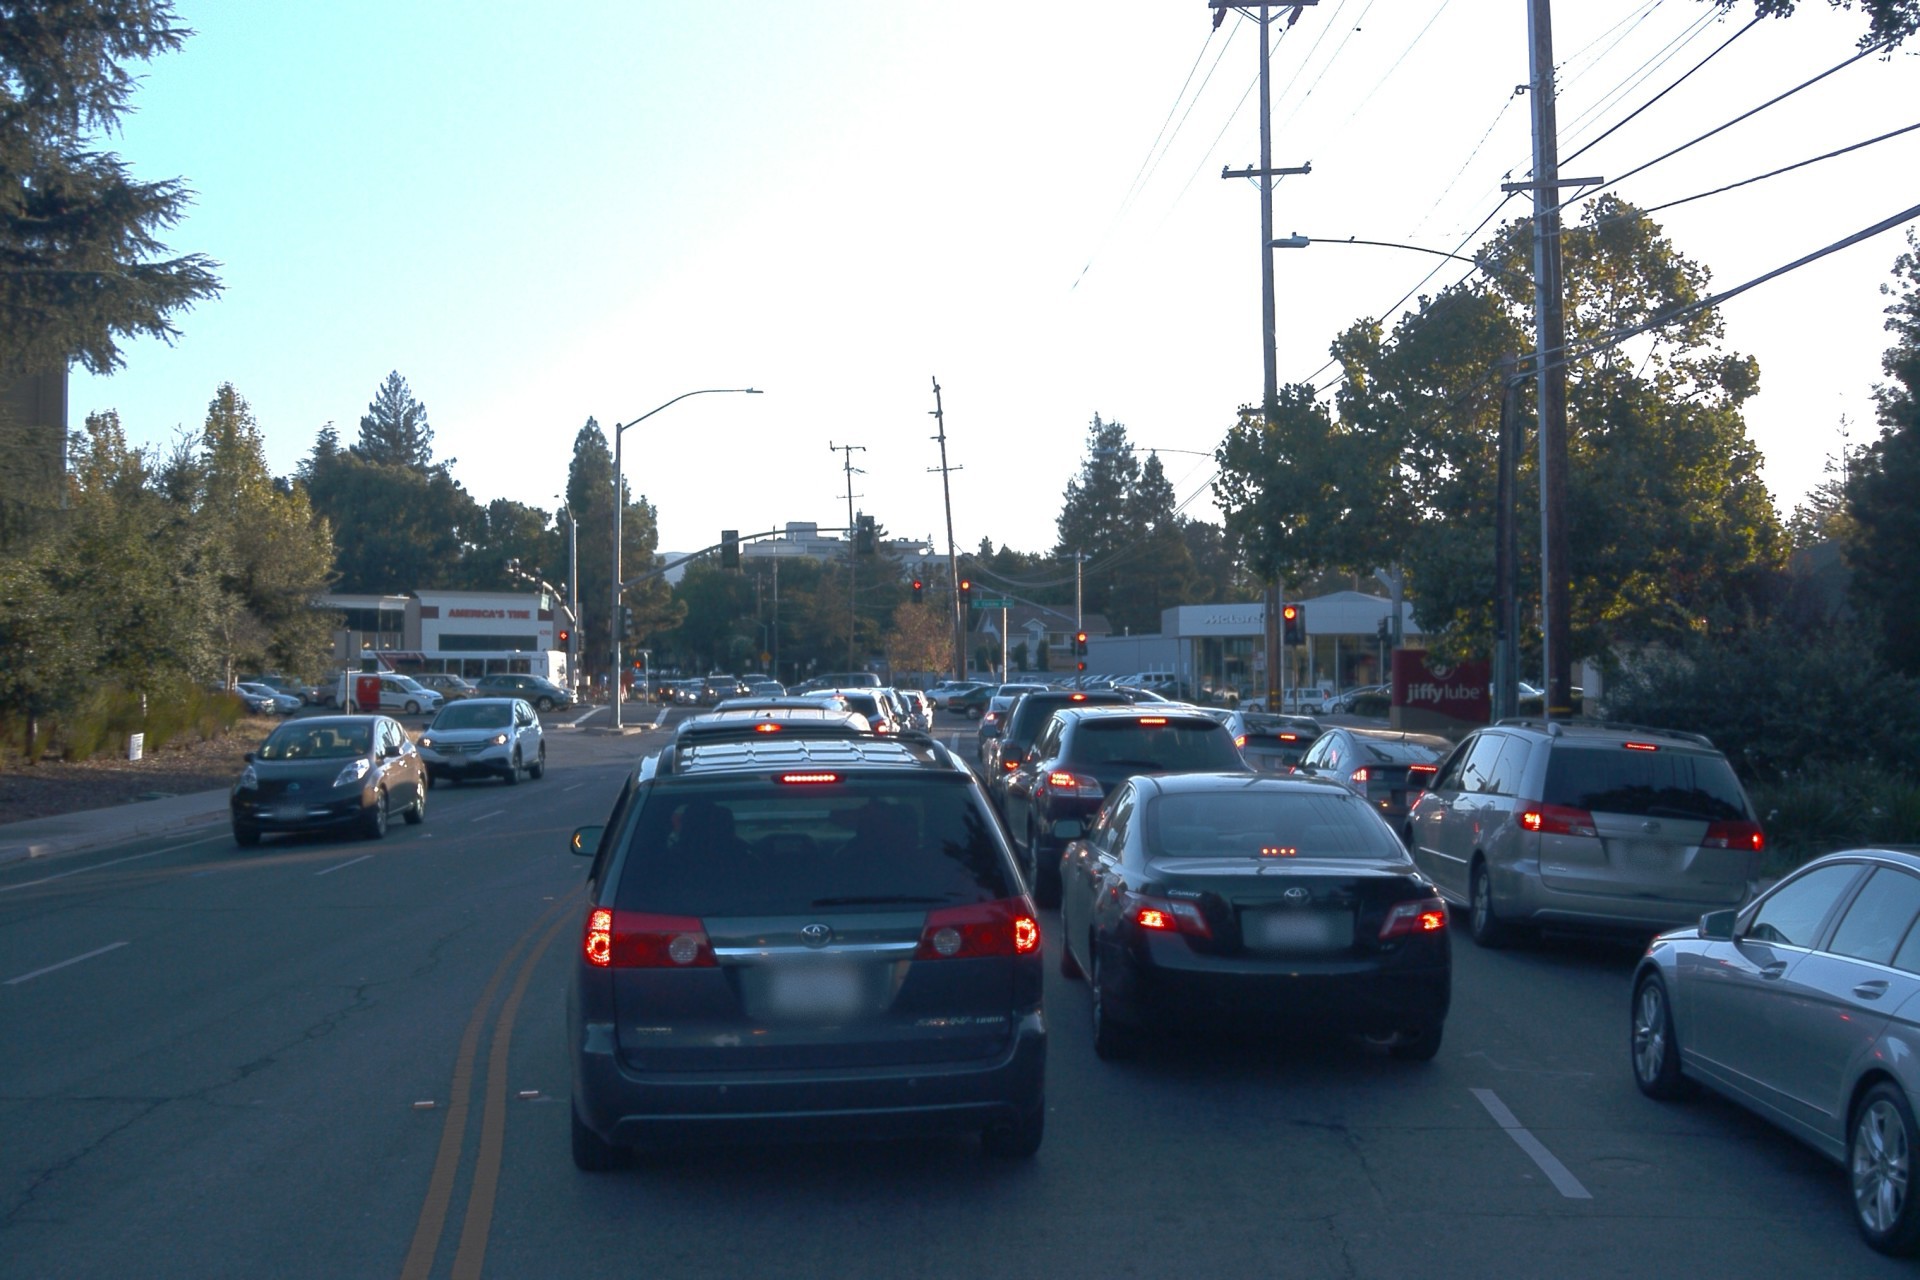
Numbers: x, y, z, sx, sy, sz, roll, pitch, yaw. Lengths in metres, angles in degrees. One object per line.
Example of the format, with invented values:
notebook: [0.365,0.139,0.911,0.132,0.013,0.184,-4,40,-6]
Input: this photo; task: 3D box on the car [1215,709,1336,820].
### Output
car: [4.670,1.817,30.934,1.418,1.490,3.138,0,0,2]

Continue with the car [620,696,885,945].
car: [-1.500,1.299,16.290,1.812,1.620,4.042,0,0,-2]

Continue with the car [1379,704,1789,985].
car: [4.903,1.521,17.100,2.061,1.850,4.903,0,0,2]

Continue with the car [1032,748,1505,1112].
car: [1.529,1.476,11.982,1.915,1.490,4.528,0,0,-2]

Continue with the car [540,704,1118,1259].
car: [-0.873,1.302,10.218,2.102,1.830,5.461,0,0,-9]

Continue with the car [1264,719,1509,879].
car: [4.676,1.705,23.273,1.785,1.510,4.026,0,0,-2]

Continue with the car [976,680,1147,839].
car: [1.186,1.412,25.823,1.759,1.770,3.957,0,0,-3]

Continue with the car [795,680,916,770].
car: [-1.660,1.355,33.817,1.709,1.350,3.337,0,0,2]

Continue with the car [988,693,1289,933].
car: [1.458,1.434,18.804,1.992,1.810,4.553,0,0,-5]

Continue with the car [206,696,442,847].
car: [-8.138,1.628,26.908,1.988,1.720,4.256,0,0,-4]

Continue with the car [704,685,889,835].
car: [-1.862,1.360,24.682,1.760,1.570,3.956,0,0,2]
